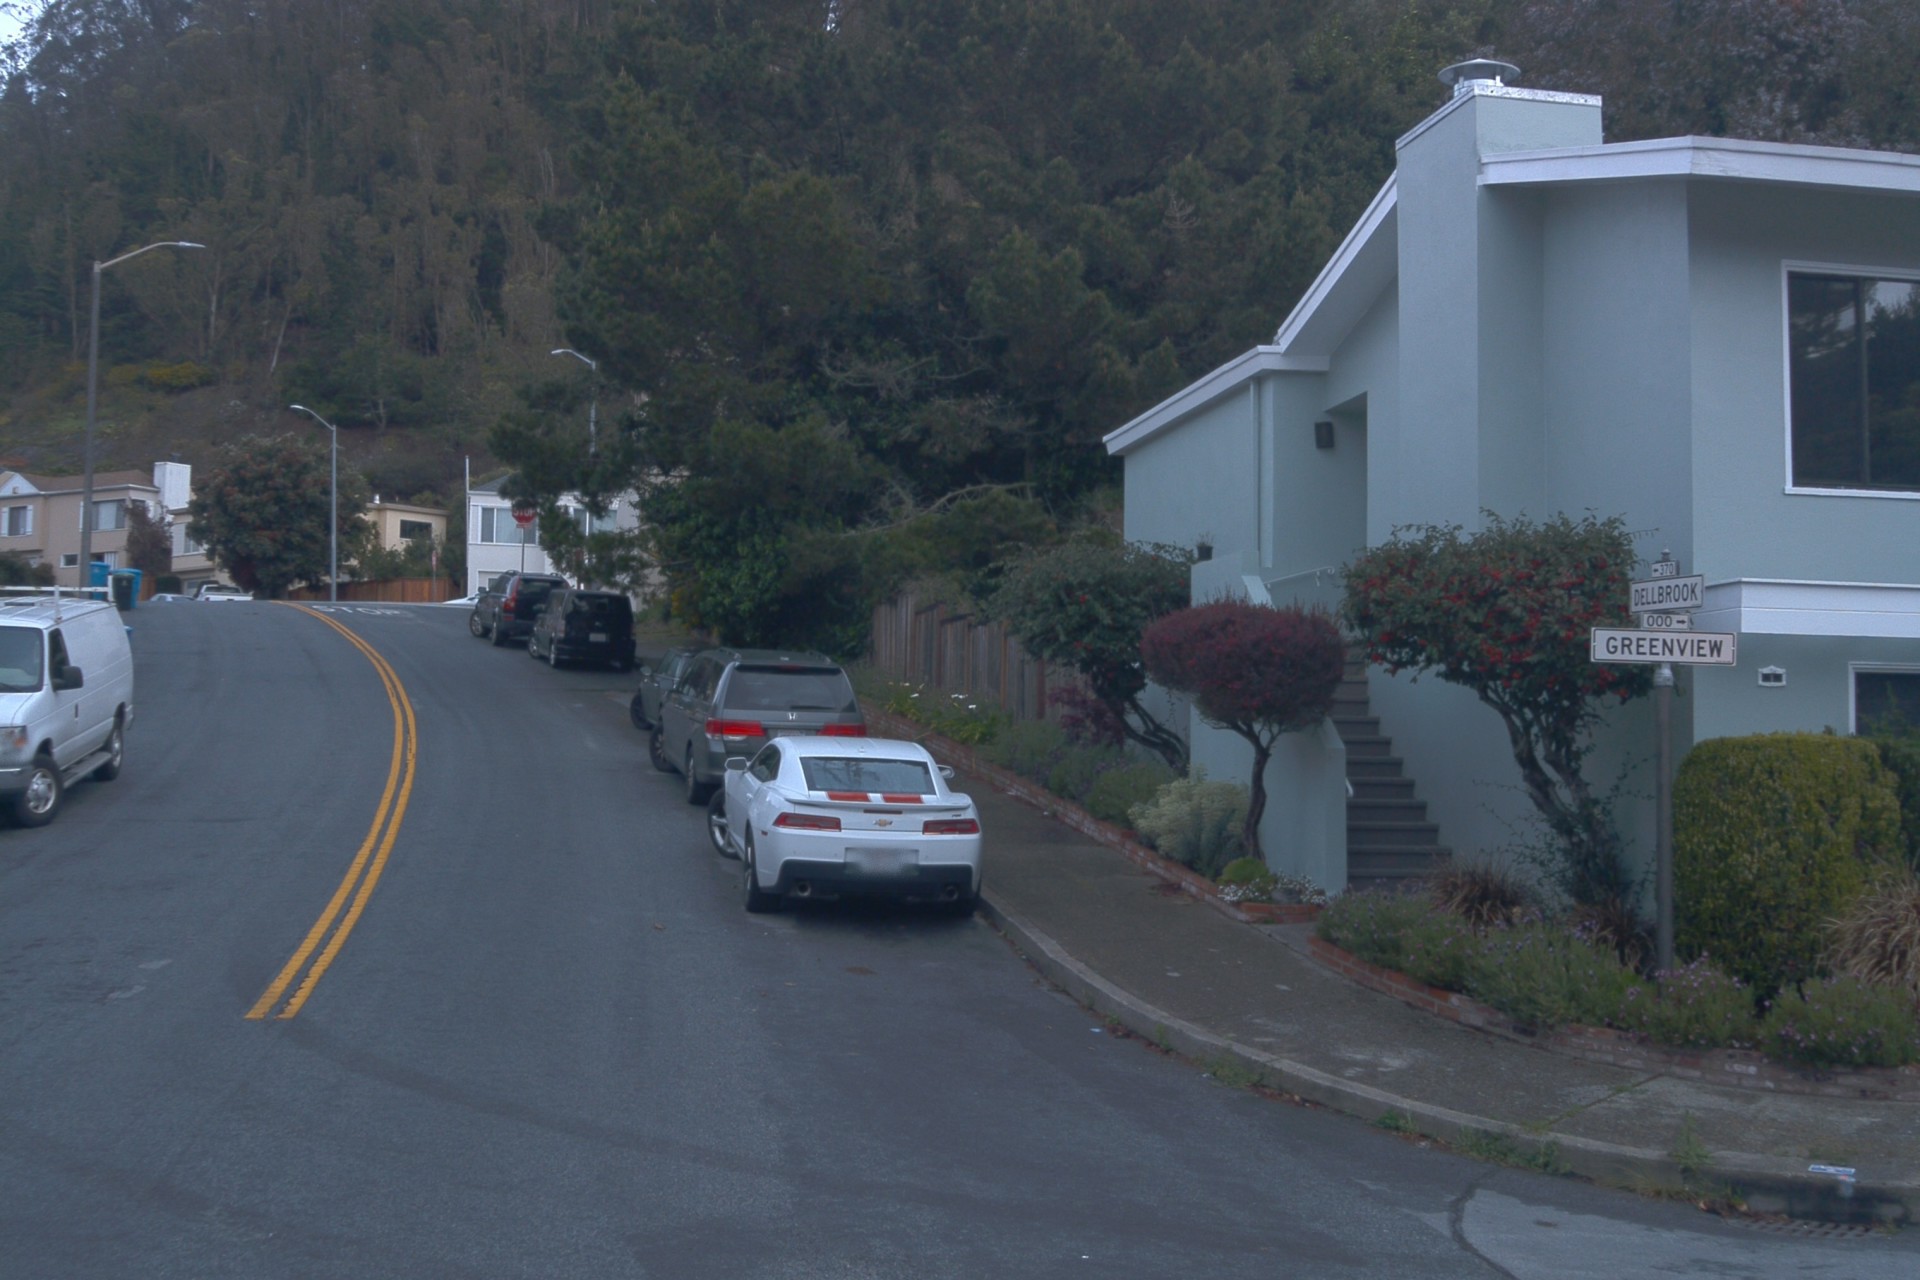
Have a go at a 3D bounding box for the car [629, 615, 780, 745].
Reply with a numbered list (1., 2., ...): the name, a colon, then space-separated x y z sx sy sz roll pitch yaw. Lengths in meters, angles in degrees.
1. car: -3.848 0.568 30.789 1.722 1.820 3.408 0 0 -16

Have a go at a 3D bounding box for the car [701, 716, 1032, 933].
1. car: -1.011 1.520 18.579 2.198 1.510 4.907 0 0 -12

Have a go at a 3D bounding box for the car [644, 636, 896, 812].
1. car: -2.418 0.924 25.082 2.316 1.910 4.710 0 0 -14
